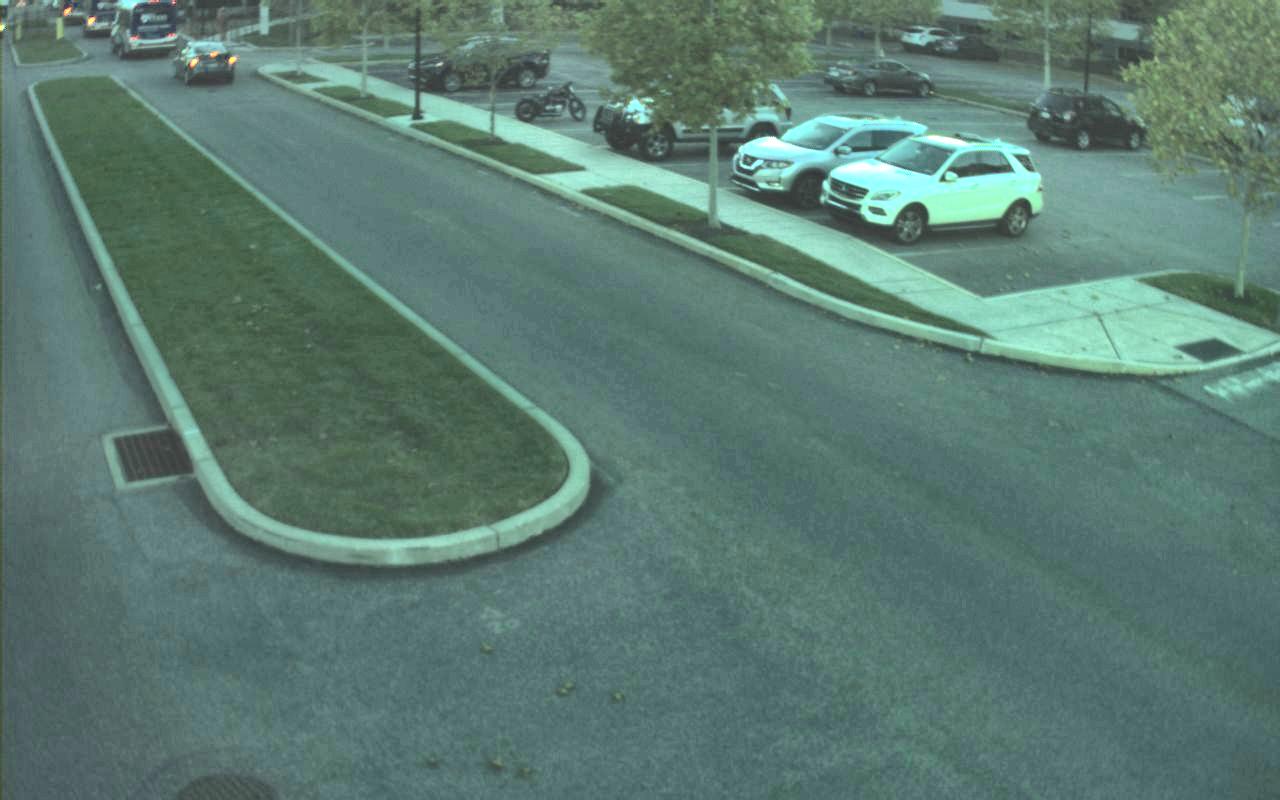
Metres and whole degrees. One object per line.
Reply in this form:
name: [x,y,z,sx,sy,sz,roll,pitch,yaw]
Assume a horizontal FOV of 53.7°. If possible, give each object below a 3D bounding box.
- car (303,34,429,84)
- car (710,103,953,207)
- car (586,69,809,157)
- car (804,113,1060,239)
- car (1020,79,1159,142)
car: [-10.781,-13.301,47.287,4.646,1.674,1.992,-10,18,-29]
car: [3.916,-4.982,24.776,4.735,1.718,2.023,-11,18,-30]
car: [1.380,-6.713,28.792,4.848,1.775,2.045,-10,18,-28]
car: [5.513,-4.251,22.712,4.827,1.902,2.070,-11,18,-31]
car: [13.820,-8.792,35.974,4.676,1.721,2.019,-11,18,-31]
